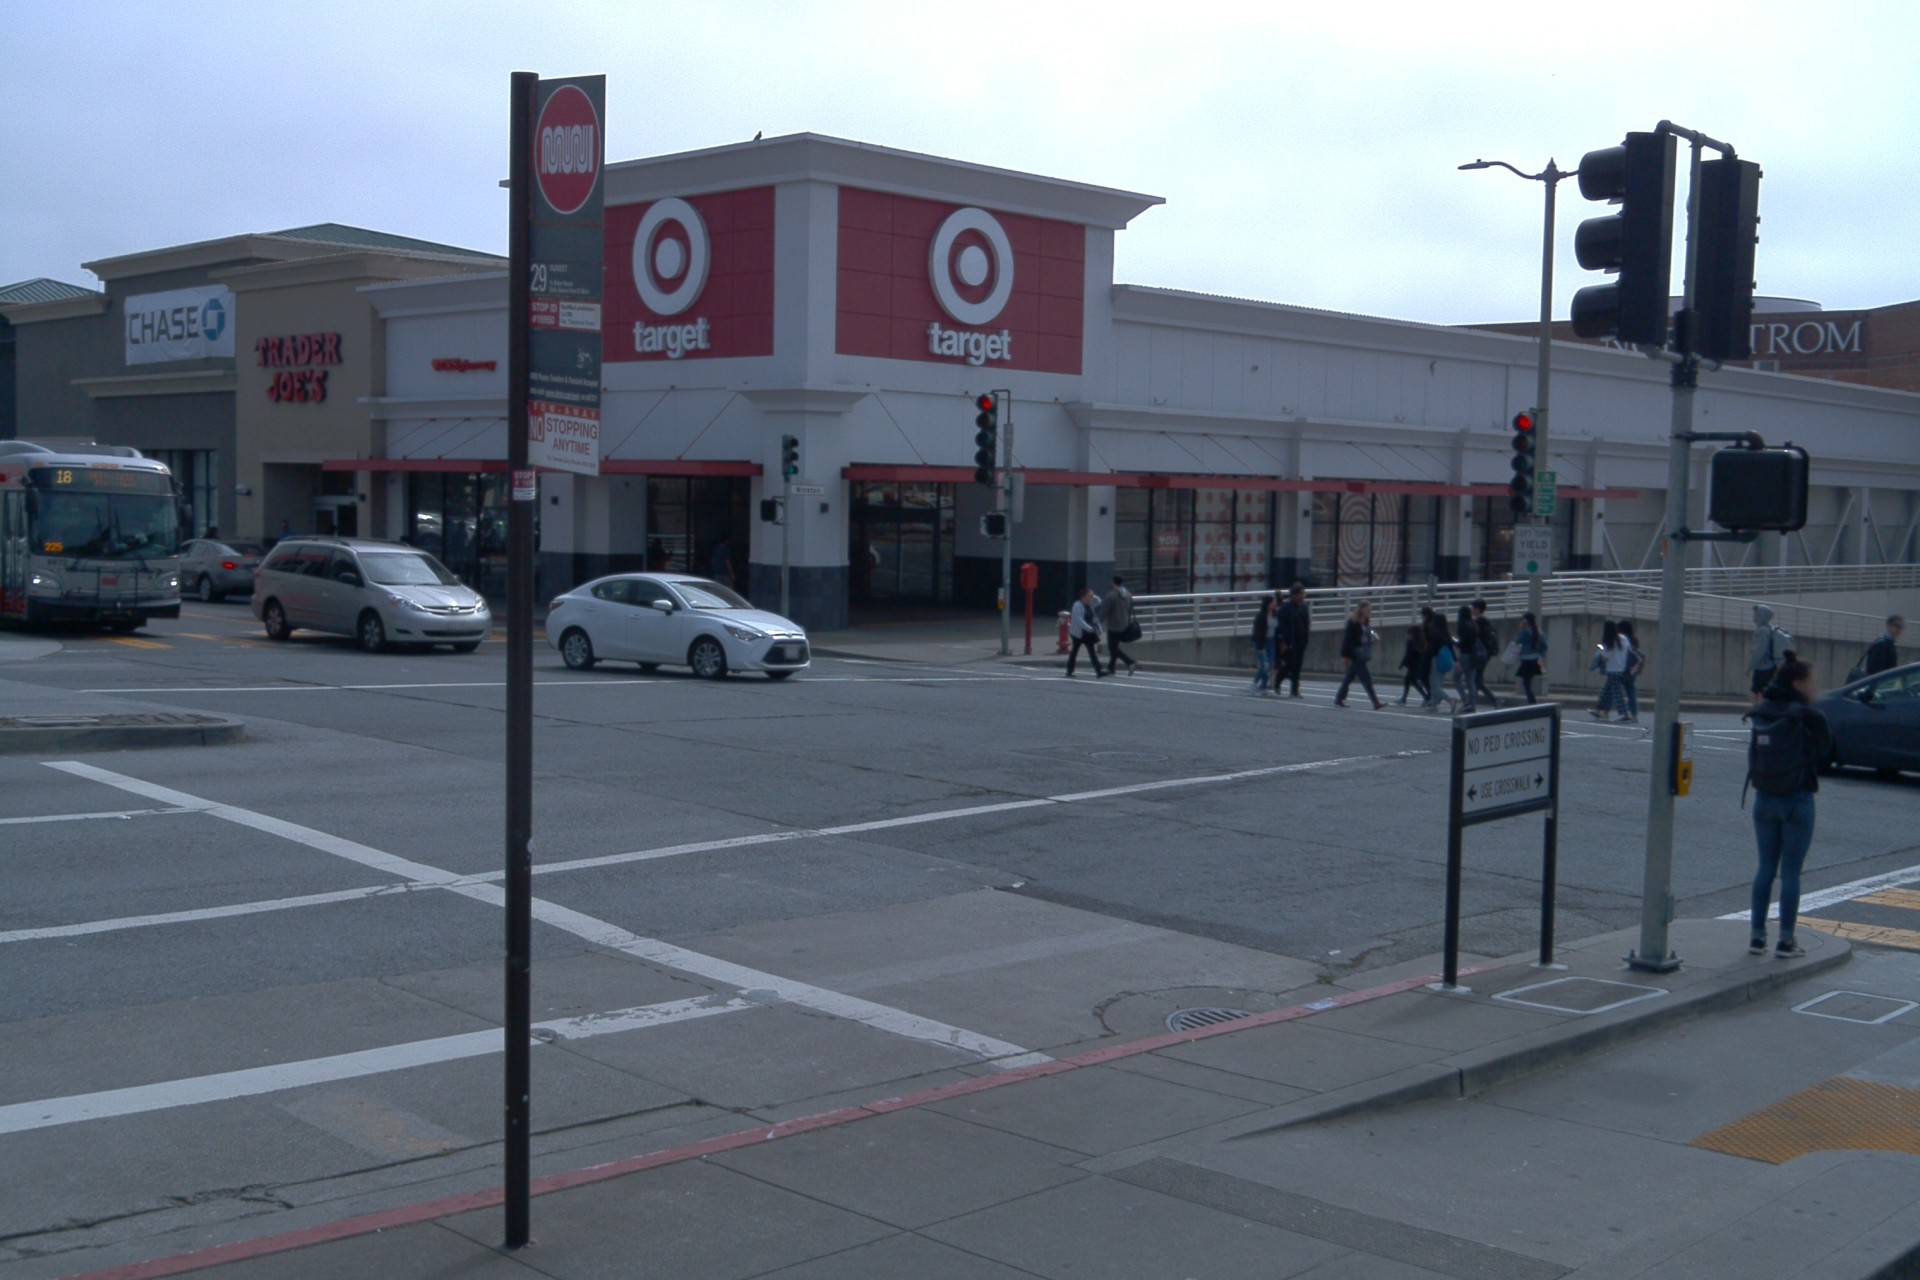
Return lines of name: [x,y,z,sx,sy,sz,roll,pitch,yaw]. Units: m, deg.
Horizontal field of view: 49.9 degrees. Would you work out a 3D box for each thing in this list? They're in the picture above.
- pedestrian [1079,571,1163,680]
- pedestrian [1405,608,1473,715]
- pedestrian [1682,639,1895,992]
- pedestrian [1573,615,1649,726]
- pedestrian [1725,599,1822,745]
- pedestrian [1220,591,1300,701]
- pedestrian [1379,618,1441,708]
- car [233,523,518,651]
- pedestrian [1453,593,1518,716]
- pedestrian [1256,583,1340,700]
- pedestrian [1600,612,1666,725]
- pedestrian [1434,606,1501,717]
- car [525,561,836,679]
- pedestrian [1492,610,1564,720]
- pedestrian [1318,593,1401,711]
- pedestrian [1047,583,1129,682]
pedestrian: [2.794,-0.252,35.760,1.043,1.850,1.025,1,1,42]
pedestrian: [6.954,0.304,29.964,0.680,1.530,0.707,-1,1,-43]
pedestrian: [4.421,0.883,11.002,0.843,1.760,0.940,0,1,36]
pedestrian: [9.745,0.441,30.903,0.612,1.630,0.890,-1,1,-41]
pedestrian: [11.174,0.424,28.362,1.039,1.960,0.717,1,1,43]
pedestrian: [4.562,0.083,31.411,0.742,1.630,0.987,-1,1,-34]
pedestrian: [6.884,0.338,31.553,0.521,1.360,0.769,-1,1,-44]
car: [-9.834,-0.852,34.490,5.161,1.970,2.221,1,1,43]
pedestrian: [7.790,0.207,30.599,0.592,1.800,0.732,-1,1,-41]
pedestrian: [5.177,0.016,31.630,0.795,1.750,1.018,-1,1,-31]
pedestrian: [10.162,0.418,31.175,0.508,1.680,0.804,-1,1,-42]
pedestrian: [7.430,0.304,30.217,0.587,1.600,0.758,-1,1,-42]
car: [-4.101,-0.296,29.989,4.369,1.600,1.885,0,1,36]
pedestrian: [8.566,0.369,31.142,0.786,1.630,0.721,-1,1,-39]
pedestrian: [5.801,0.162,29.956,0.926,1.680,0.769,1,1,41]
pedestrian: [2.118,-0.131,34.137,0.944,1.610,0.972,-1,1,-44]
